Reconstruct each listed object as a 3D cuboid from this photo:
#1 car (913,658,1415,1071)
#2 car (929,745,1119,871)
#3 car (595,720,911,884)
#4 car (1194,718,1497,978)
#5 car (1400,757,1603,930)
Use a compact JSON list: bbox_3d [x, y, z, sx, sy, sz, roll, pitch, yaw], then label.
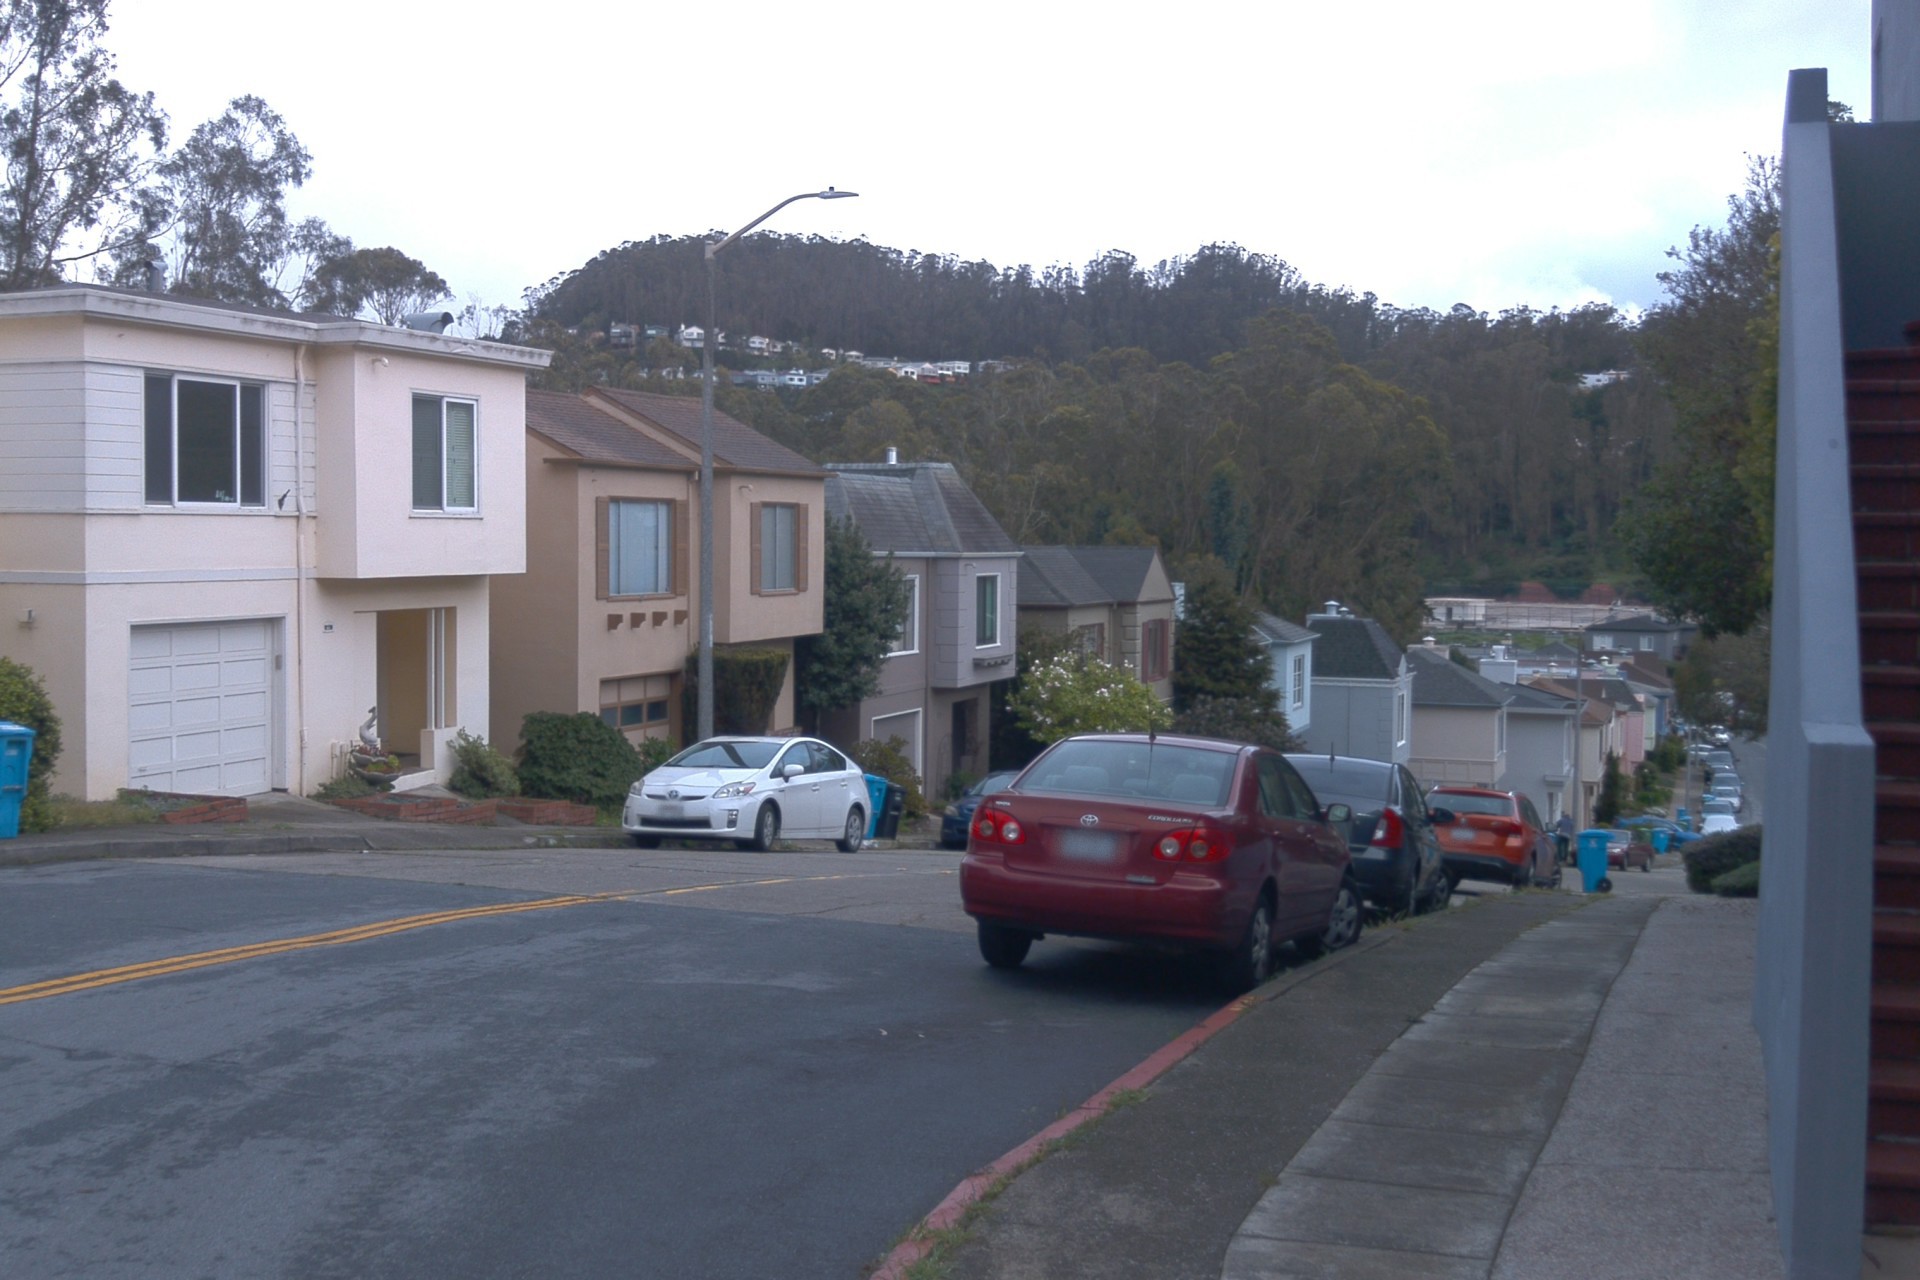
[{"bbox_3d":[1.550,1.208,13.643,2.075,2.152,4.758,1,0,21],"label":"car"},{"bbox_3d":[1.197,2.871,36.725,2.031,1.850,4.422,1,0,20],"label":"car"},{"bbox_3d":[-2.489,1.955,26.582,2.154,1.700,4.590,1,0,21],"label":"car"},{"bbox_3d":[3.715,1.786,19.502,2.137,1.950,4.379,1,0,19],"label":"car"},{"bbox_3d":[8.042,2.880,30.810,2.118,2.060,4.738,1,0,24],"label":"car"}]
